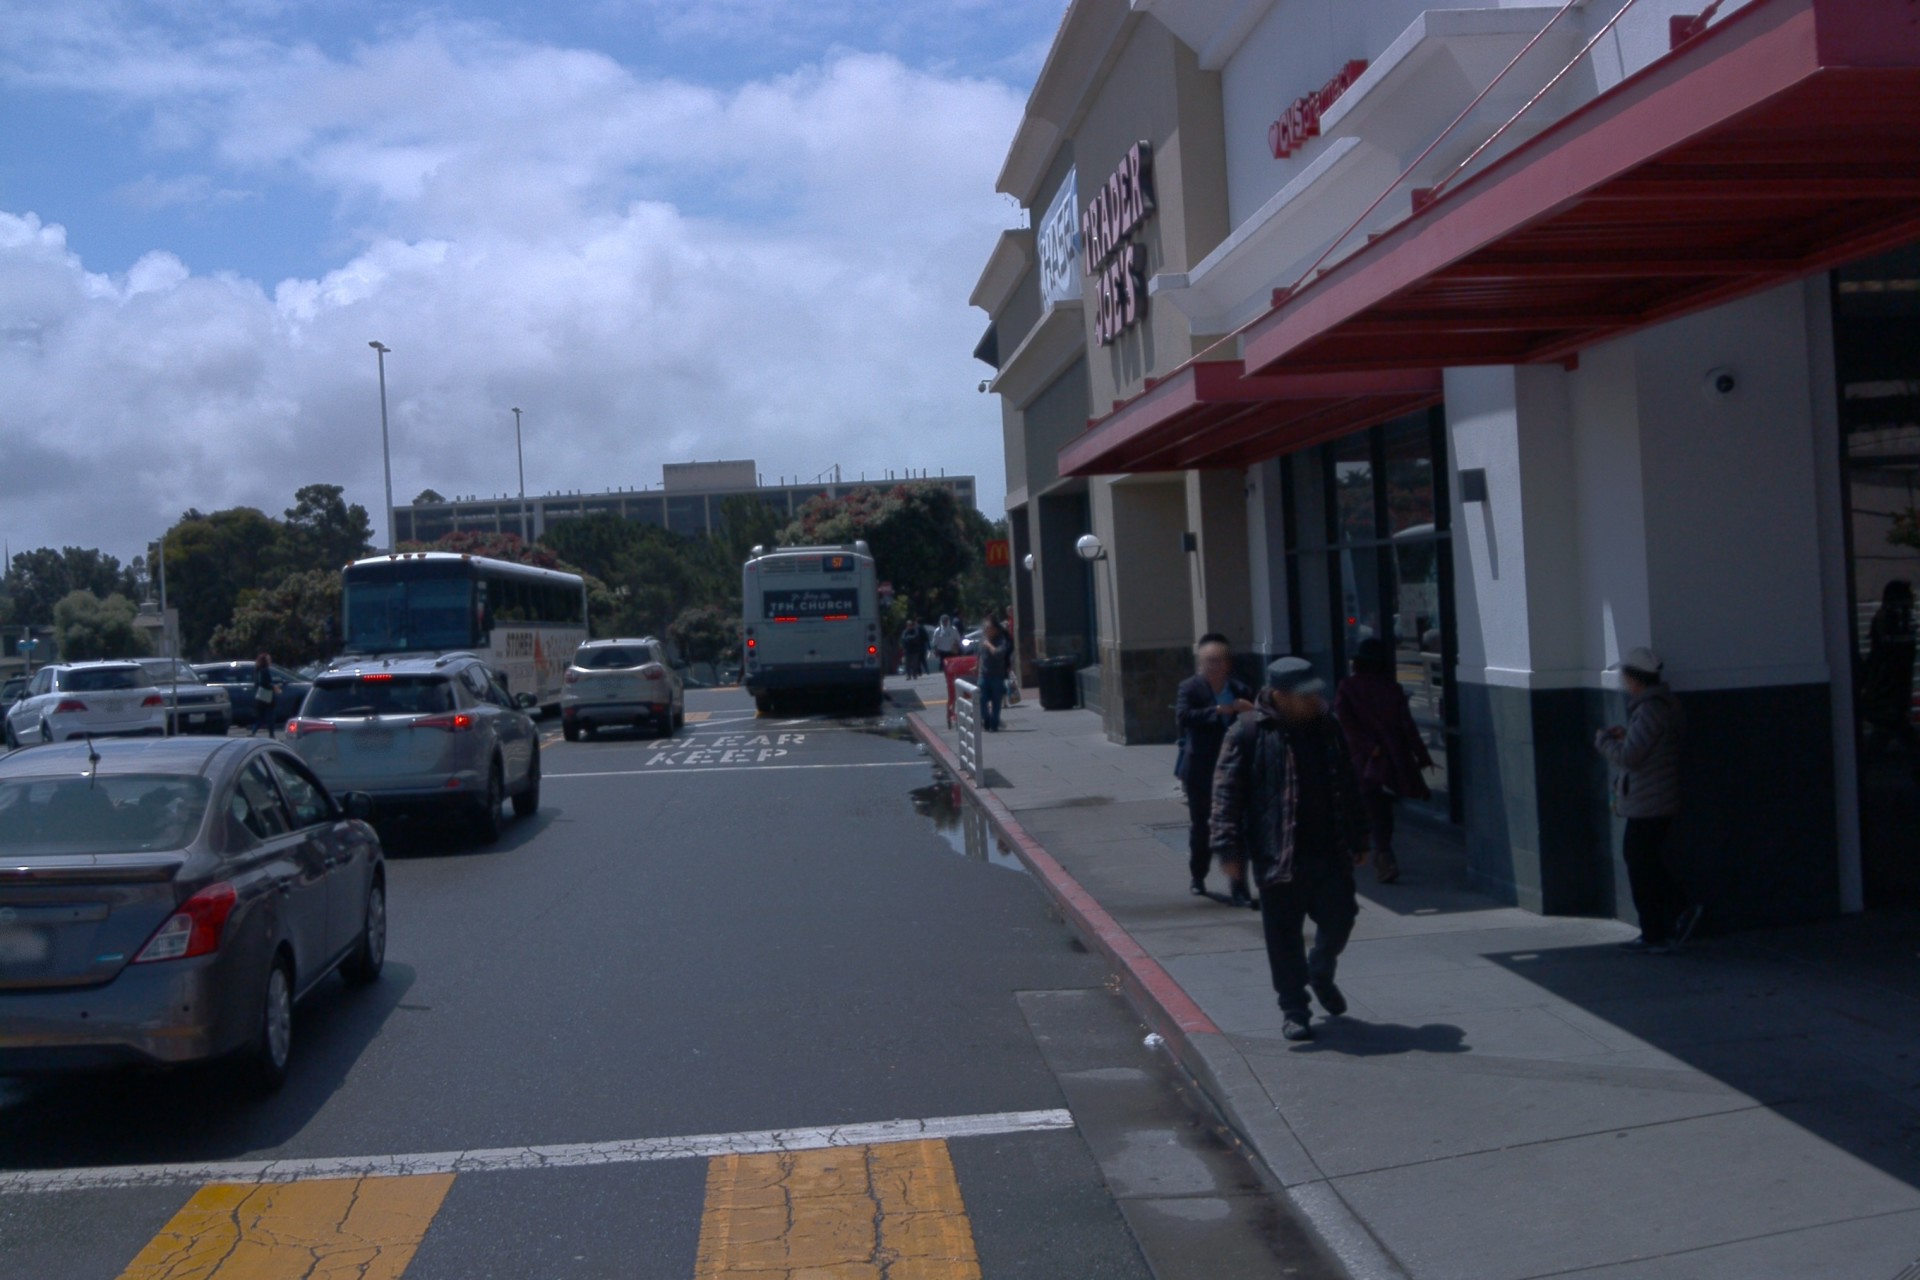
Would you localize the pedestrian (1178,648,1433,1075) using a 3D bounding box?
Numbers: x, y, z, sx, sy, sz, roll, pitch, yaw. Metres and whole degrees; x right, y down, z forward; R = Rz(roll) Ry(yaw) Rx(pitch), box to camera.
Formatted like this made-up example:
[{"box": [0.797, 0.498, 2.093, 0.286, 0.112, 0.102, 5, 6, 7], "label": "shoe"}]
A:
[{"box": [1.460, 0.904, 8.836, 0.887, 1.720, 0.873, 0, 0, -5], "label": "pedestrian"}]

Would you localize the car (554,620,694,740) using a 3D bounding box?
[{"box": [-5.778, 0.636, 35.792, 2.010, 1.960, 4.326, 0, 0, -4], "label": "car"}]

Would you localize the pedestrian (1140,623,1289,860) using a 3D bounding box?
[{"box": [1.877, 0.726, 15.278, 0.883, 1.700, 0.834, 0, 0, -10], "label": "pedestrian"}]

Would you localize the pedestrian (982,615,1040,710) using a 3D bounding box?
[{"box": [0.899, 0.394, 36.443, 0.837, 1.660, 0.887, 0, 0, -11], "label": "pedestrian"}]

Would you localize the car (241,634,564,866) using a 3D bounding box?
[{"box": [-5.094, 0.912, 19.460, 2.128, 1.900, 4.516, 0, 1, -4], "label": "car"}]

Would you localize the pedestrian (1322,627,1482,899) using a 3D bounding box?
[{"box": [2.812, 0.759, 13.152, 0.812, 1.680, 0.820, 0, 0, -3], "label": "pedestrian"}]

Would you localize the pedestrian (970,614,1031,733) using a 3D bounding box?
[{"box": [0.594, 0.484, 30.422, 0.836, 1.730, 0.984, 0, 0, -3], "label": "pedestrian"}]

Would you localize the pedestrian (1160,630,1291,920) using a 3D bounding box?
[{"box": [1.626, 0.804, 12.682, 0.651, 1.720, 0.810, 0, 0, -4], "label": "pedestrian"}]

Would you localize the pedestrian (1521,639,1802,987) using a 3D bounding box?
[{"box": [3.439, 0.790, 10.085, 0.950, 1.580, 0.971, 0, 0, -43], "label": "pedestrian"}]
